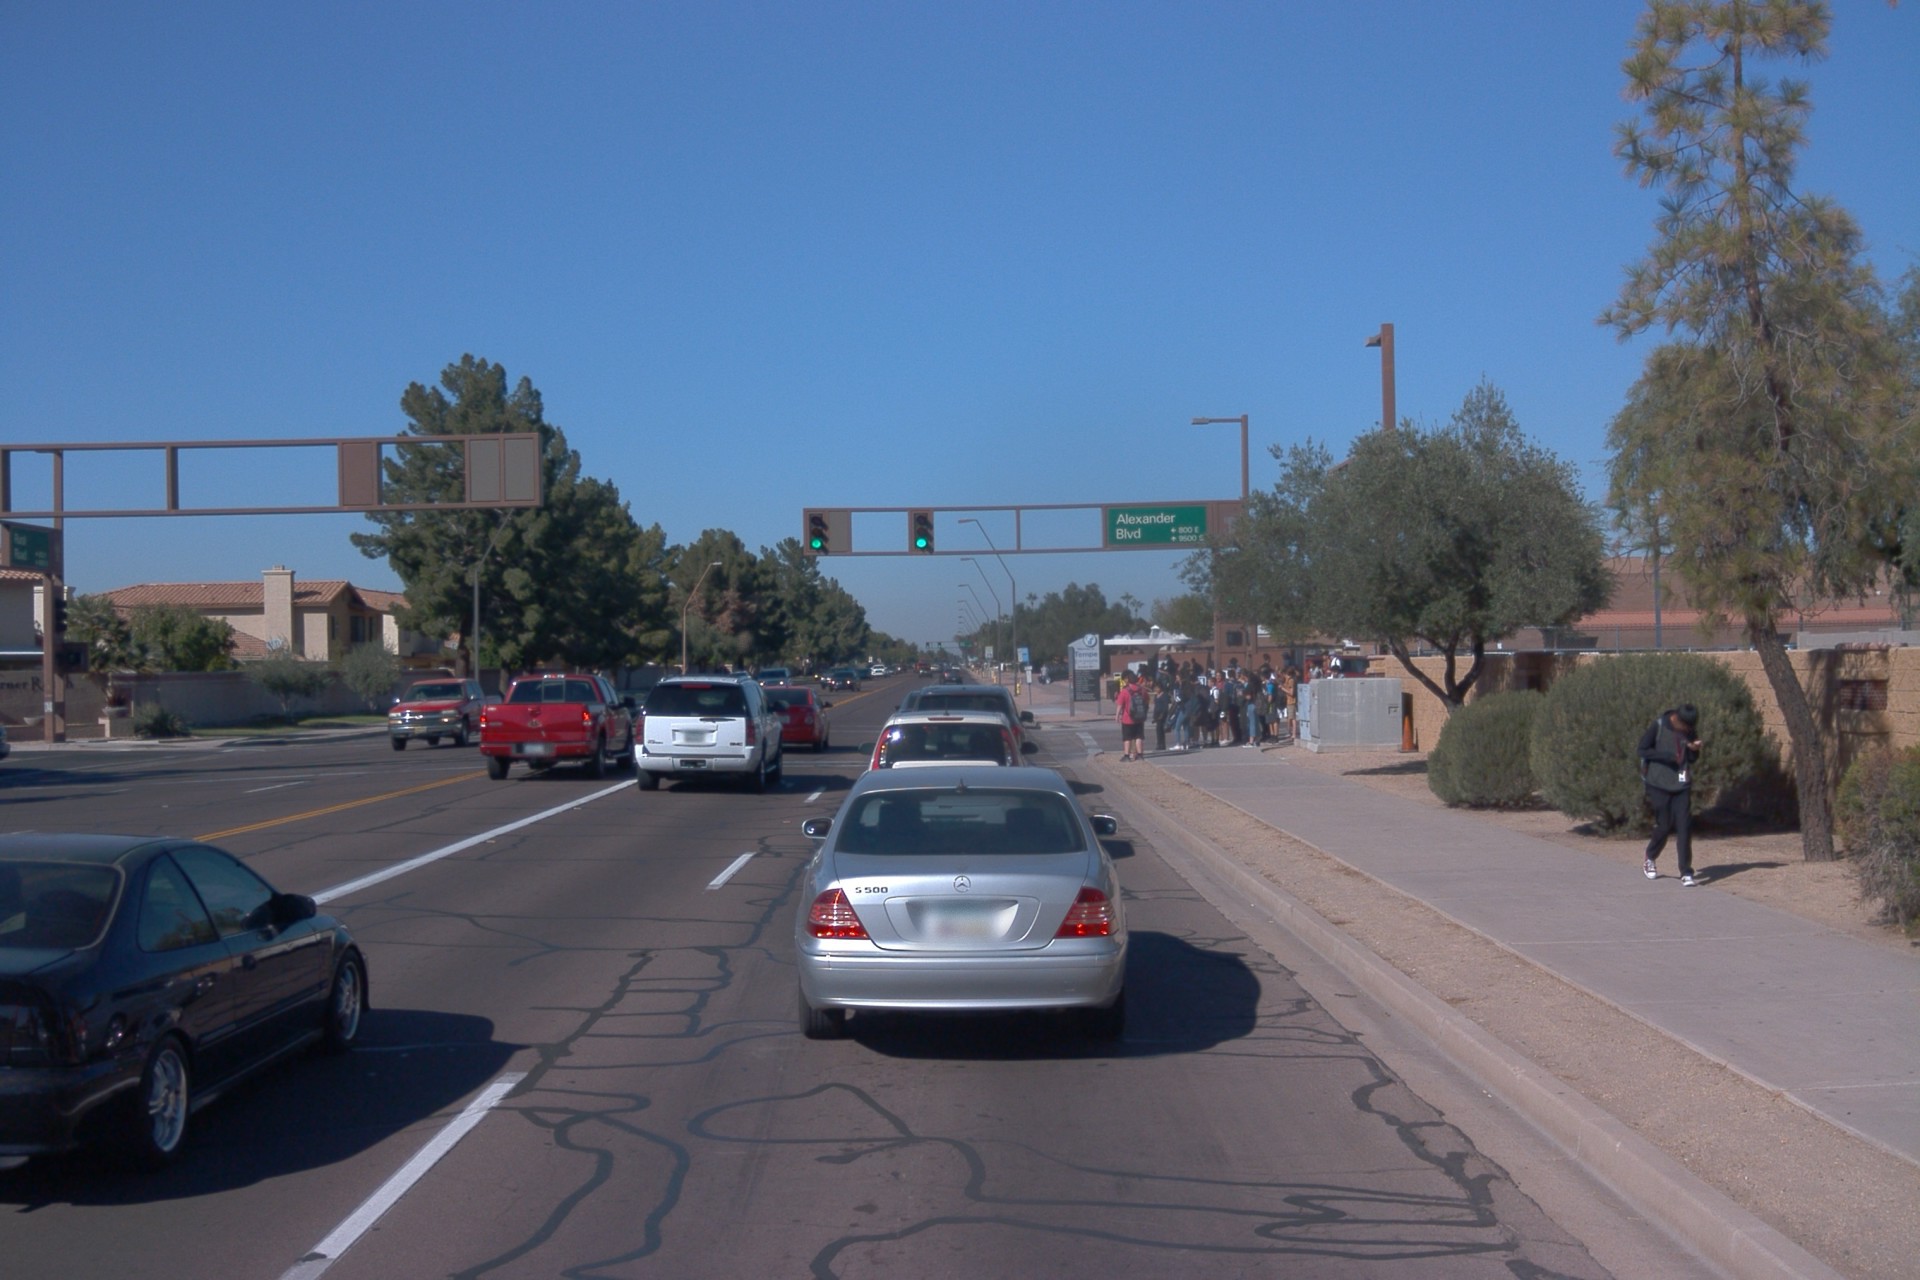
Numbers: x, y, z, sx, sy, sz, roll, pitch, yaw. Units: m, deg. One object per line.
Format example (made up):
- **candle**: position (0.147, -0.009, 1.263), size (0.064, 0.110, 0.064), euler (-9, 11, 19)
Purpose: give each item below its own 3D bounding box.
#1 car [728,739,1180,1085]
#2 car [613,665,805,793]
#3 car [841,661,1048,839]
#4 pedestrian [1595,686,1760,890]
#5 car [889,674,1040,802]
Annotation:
- **car**: position (-0.016, 1.472, 12.695), size (2.265, 1.600, 4.514), euler (0, -1, 0)
- **car**: position (-4.100, 1.439, 34.928), size (2.513, 1.980, 4.967), euler (0, -1, 1)
- **car**: position (-0.111, 1.140, 22.912), size (2.056, 1.760, 4.487), euler (0, -1, 1)
- **pedestrian**: position (5.976, 1.216, 17.382), size (1.000, 1.650, 1.000), euler (0, -1, -3)
- **car**: position (0.156, 1.557, 34.465), size (2.322, 1.950, 4.955), euler (0, -1, 2)
